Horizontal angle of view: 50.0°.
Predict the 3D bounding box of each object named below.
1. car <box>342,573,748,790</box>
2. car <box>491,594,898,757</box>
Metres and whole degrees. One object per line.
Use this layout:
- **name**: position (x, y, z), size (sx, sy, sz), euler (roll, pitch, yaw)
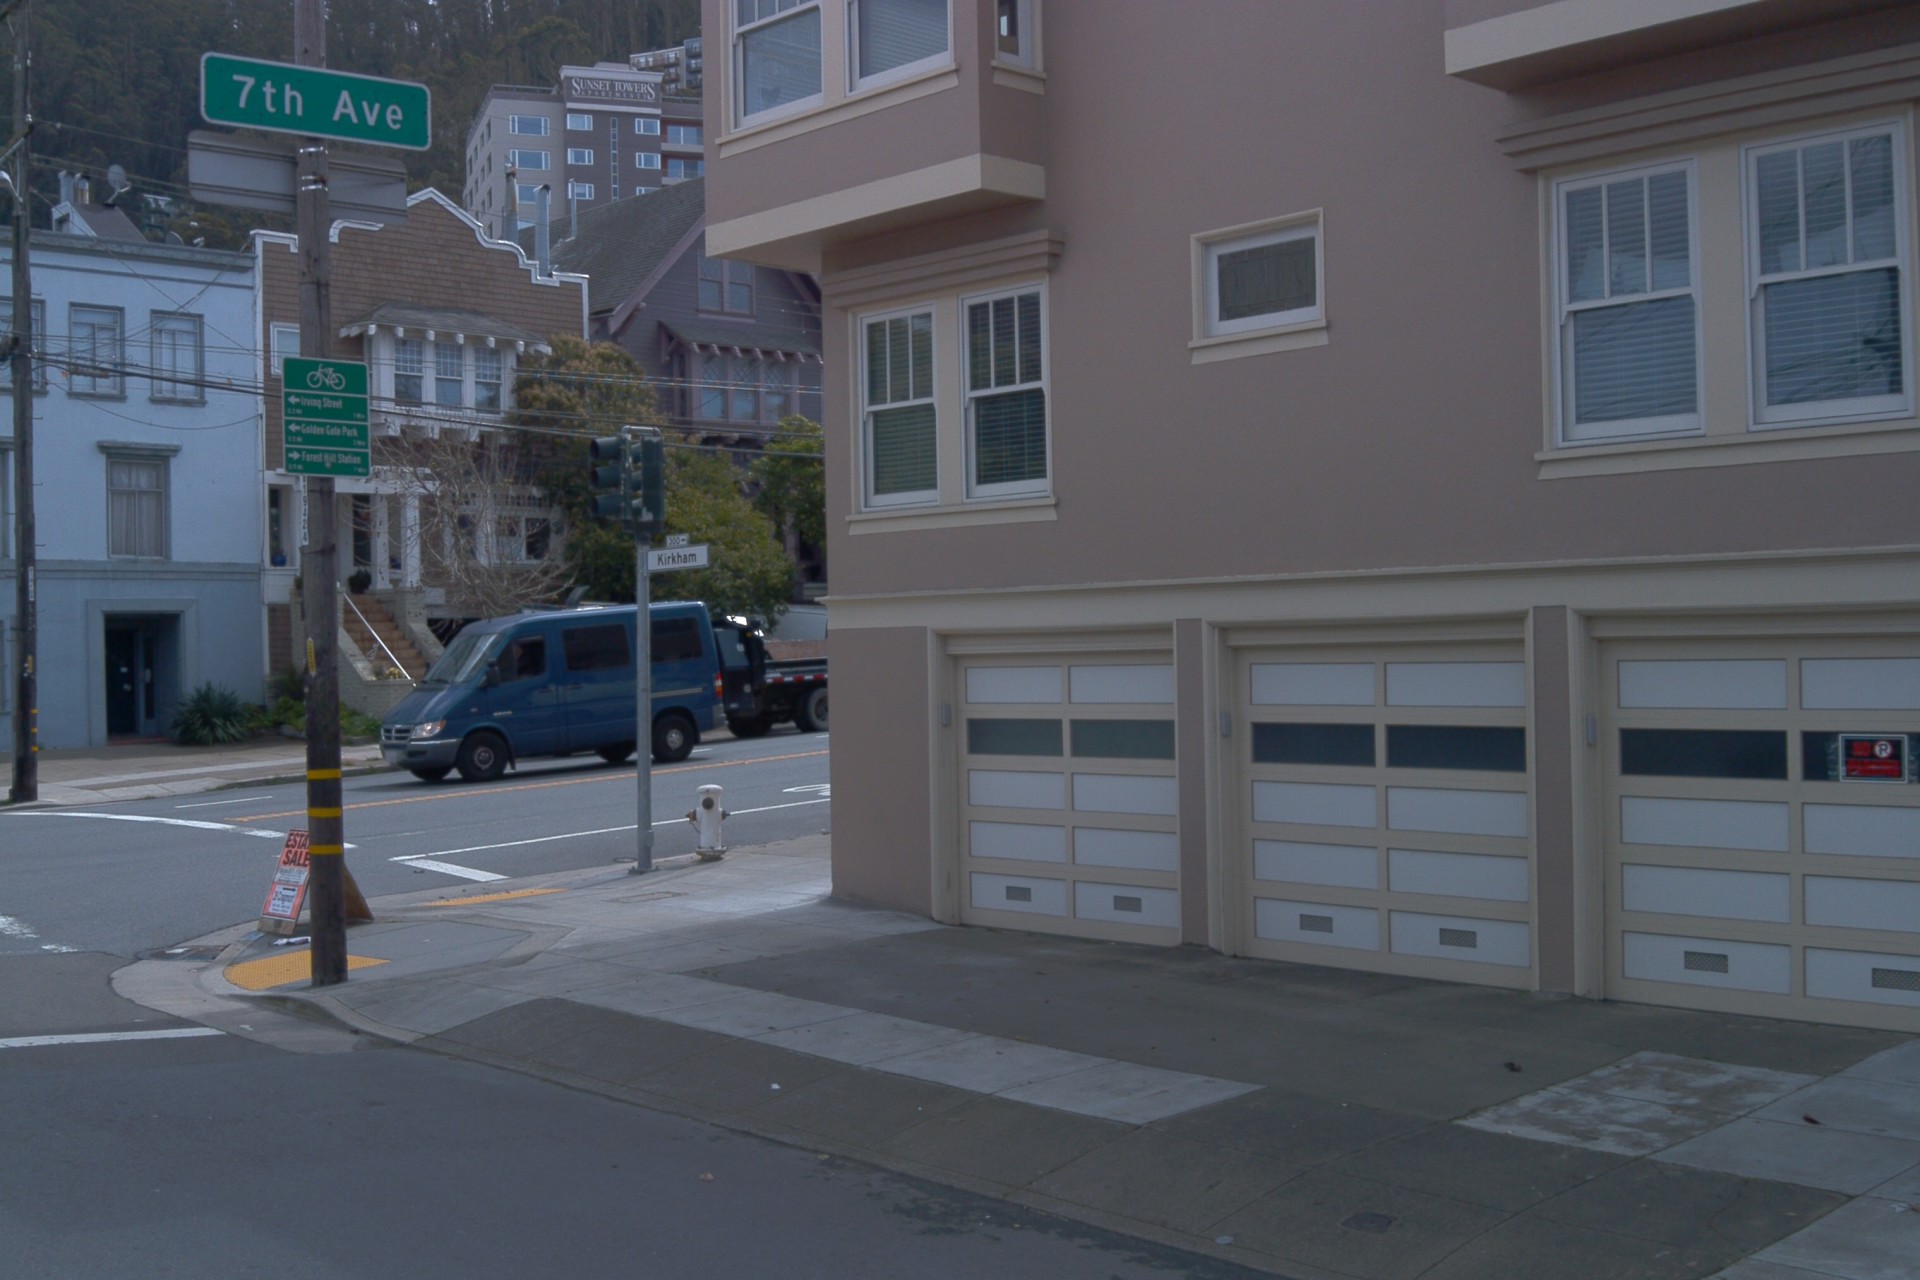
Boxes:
- **car**: position (-5.920, 0.547, 29.676), size (5.102, 2.850, 2.613), euler (0, 0, -38)
- **car**: position (-4.462, 0.562, 35.723), size (6.727, 2.550, 2.715), euler (0, 0, -45)
